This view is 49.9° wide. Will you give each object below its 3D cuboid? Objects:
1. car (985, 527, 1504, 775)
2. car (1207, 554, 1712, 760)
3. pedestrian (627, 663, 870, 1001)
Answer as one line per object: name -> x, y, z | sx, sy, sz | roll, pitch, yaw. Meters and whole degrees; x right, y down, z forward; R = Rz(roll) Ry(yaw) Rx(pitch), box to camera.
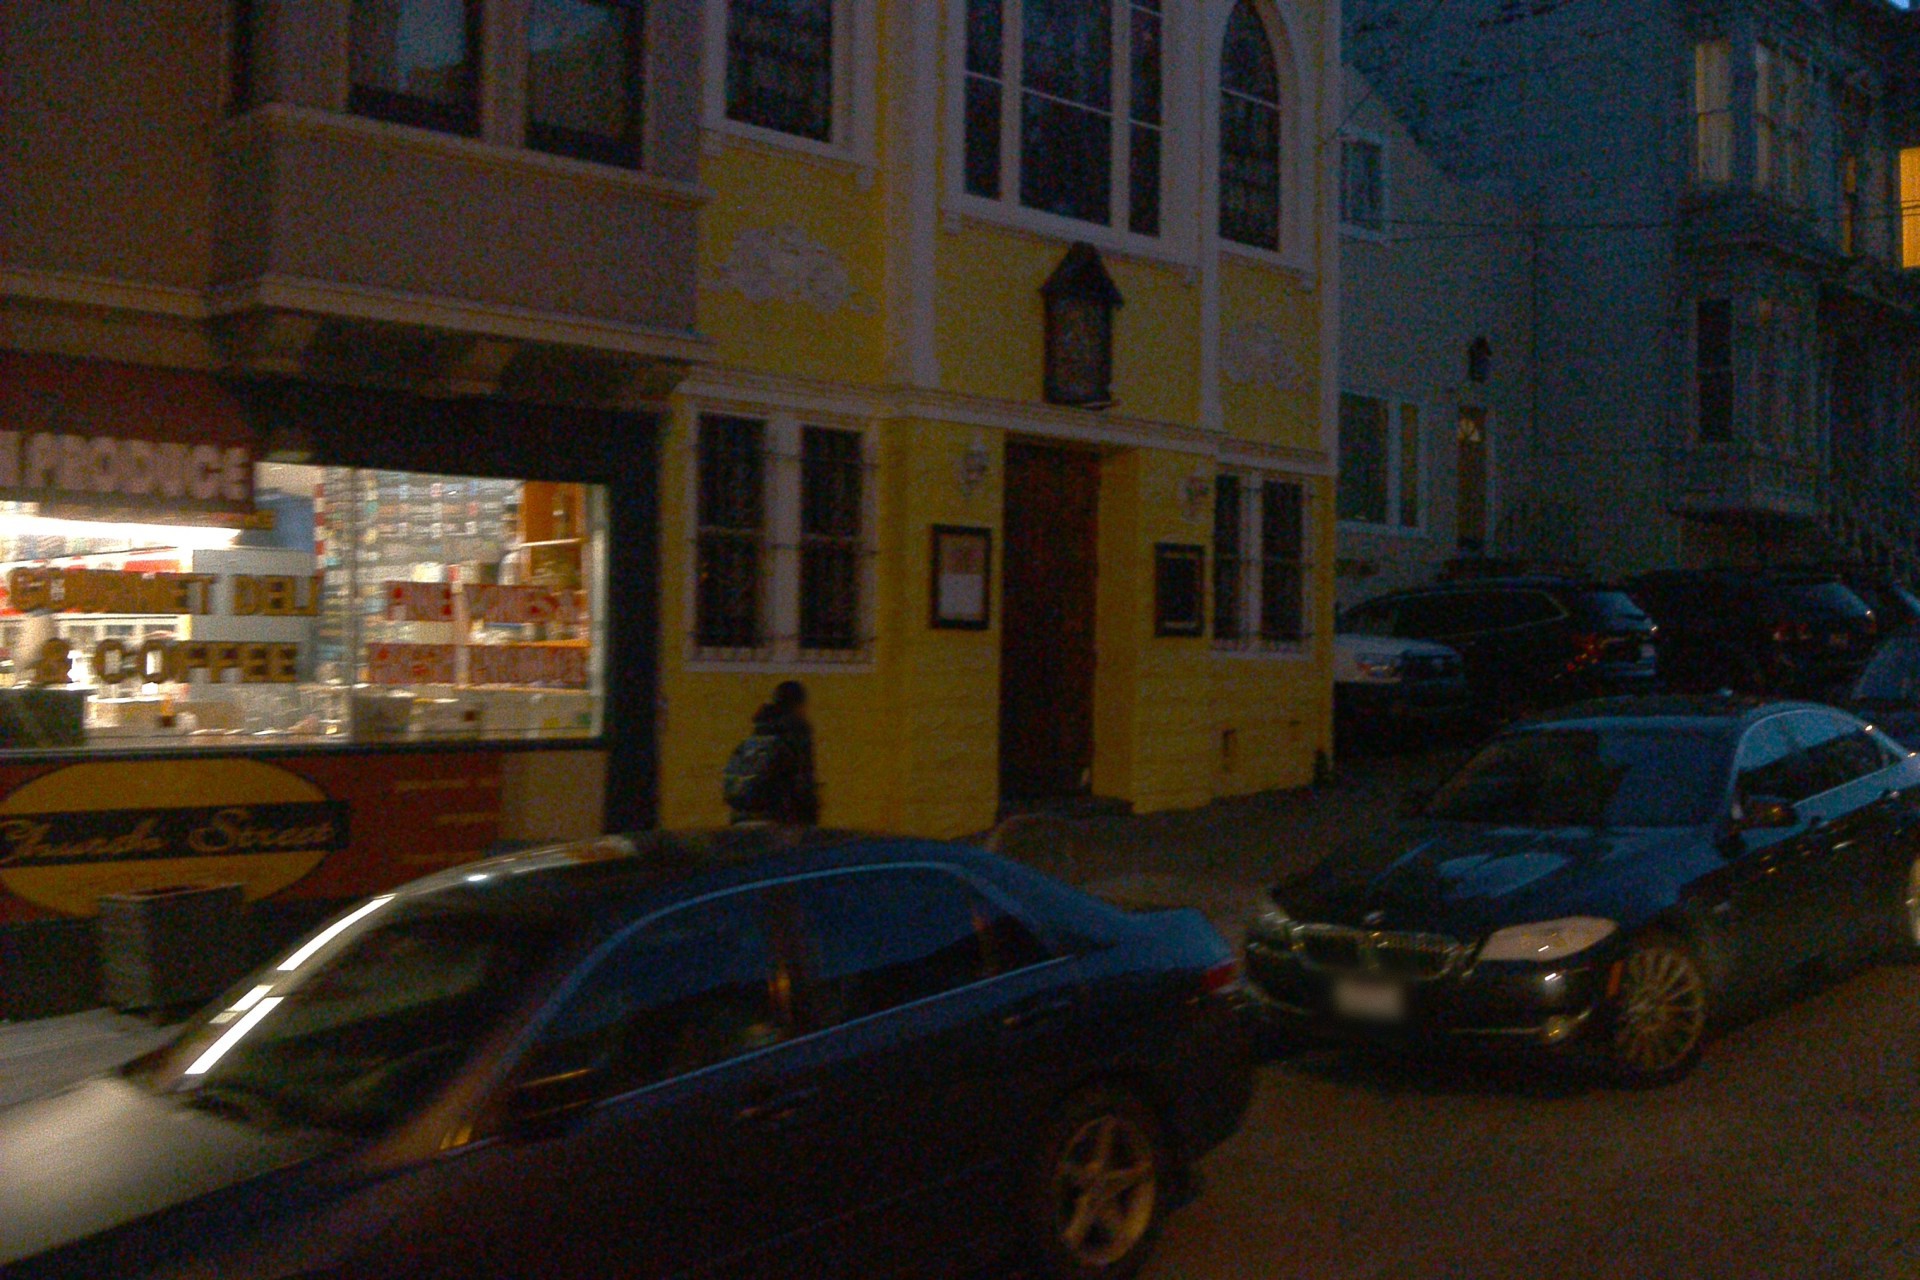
car -> 2.703, 0.052, 20.457 | 4.793, 2.170, 2.056 | 1, 1, 44
car -> 5.249, 0.121, 22.100 | 4.761, 1.960, 2.249 | 1, 1, 43
pedestrian -> -1.113, 0.958, 10.861 | 0.892, 1.640, 0.918 | -1, 1, -44
